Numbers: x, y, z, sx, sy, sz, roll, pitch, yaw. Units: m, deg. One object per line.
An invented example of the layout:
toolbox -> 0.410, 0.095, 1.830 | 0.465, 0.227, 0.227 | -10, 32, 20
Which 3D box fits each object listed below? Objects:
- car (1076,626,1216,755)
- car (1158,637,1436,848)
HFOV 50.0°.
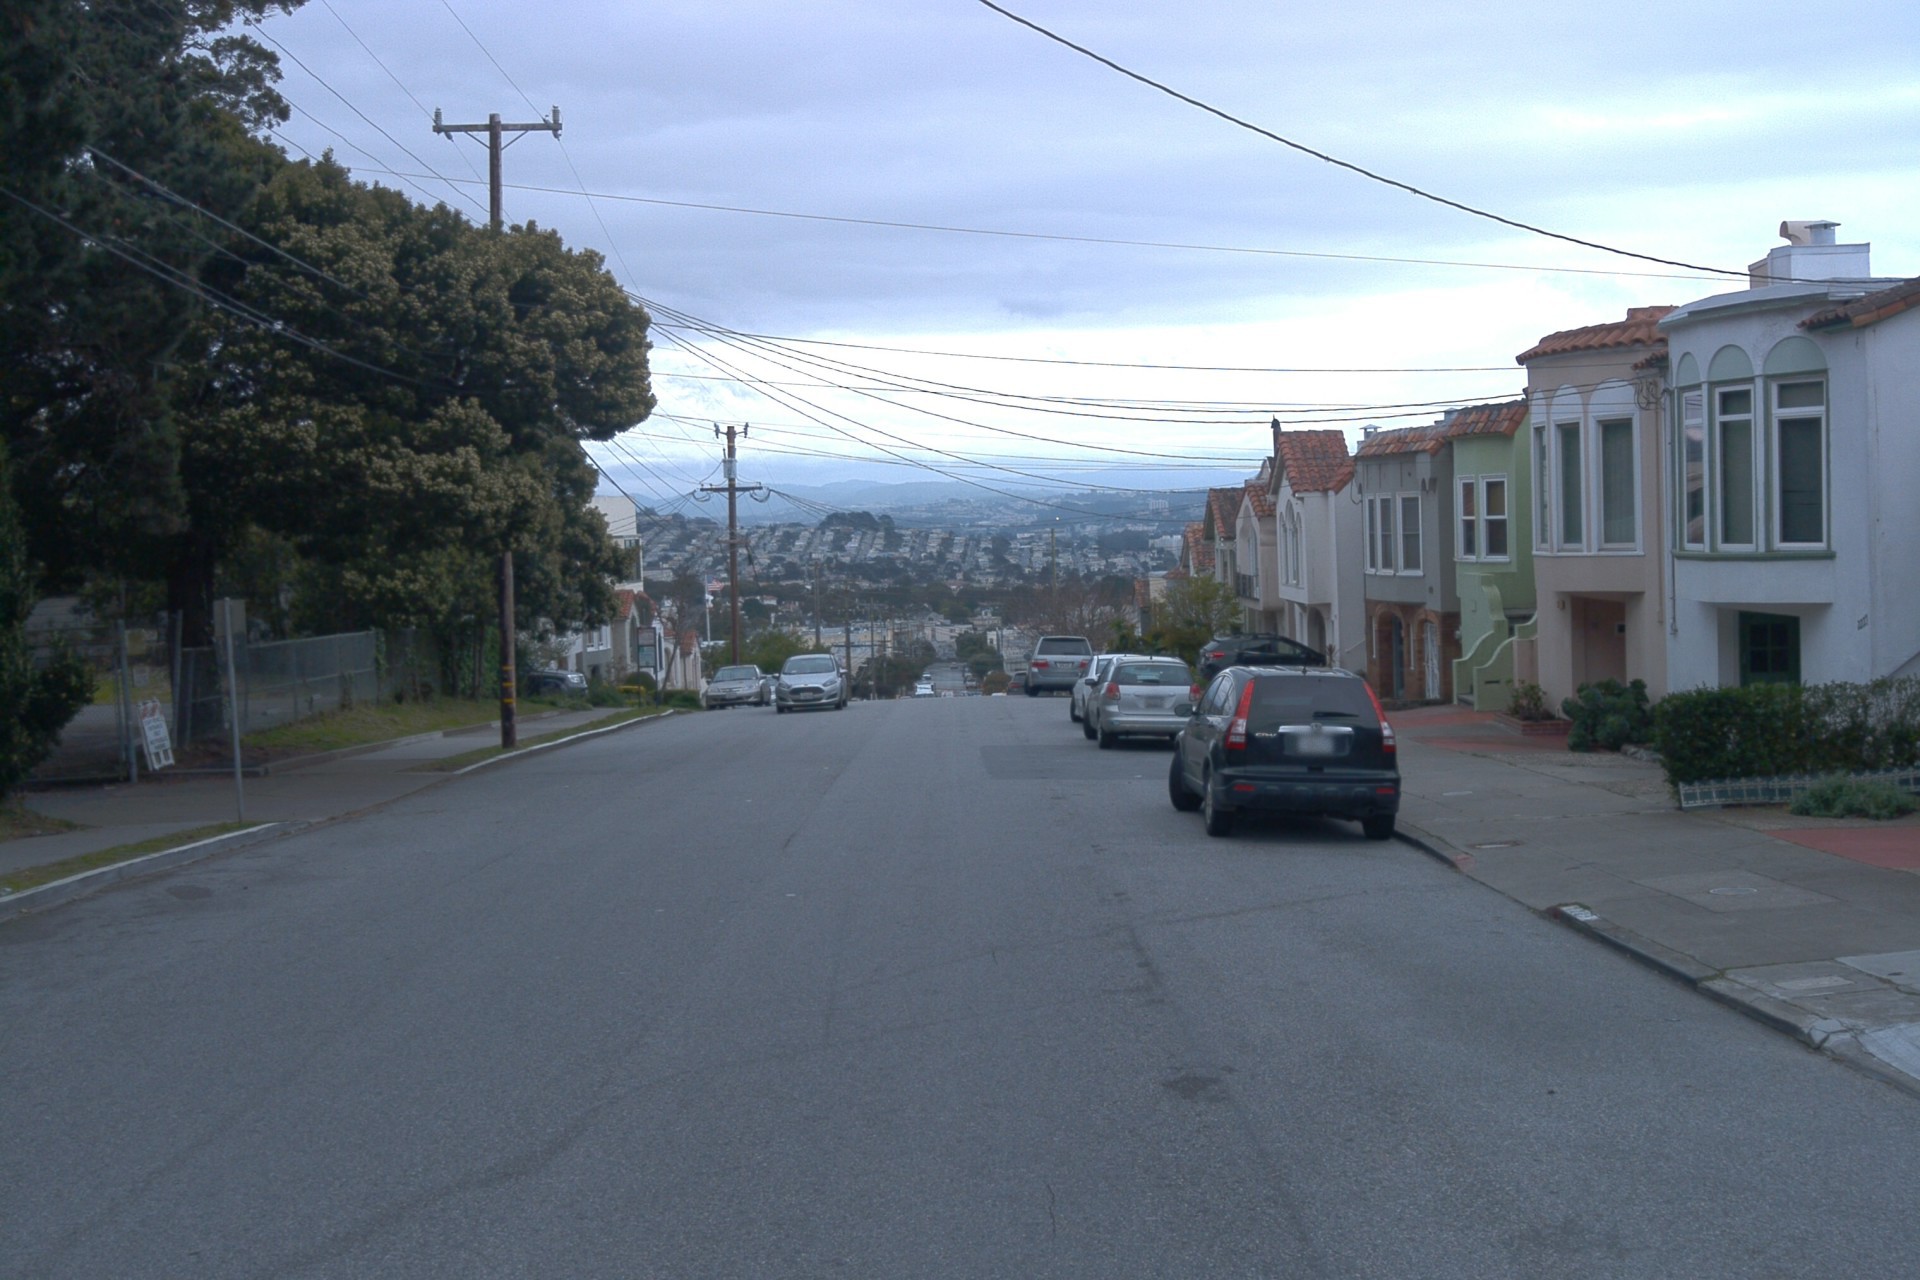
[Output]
car -> 3.130, 0.816, 35.505 | 1.982, 2.084, 4.249 | 0, 0, -1
car -> 3.359, 0.957, 21.463 | 2.174, 1.960, 4.531 | 0, 0, 0
